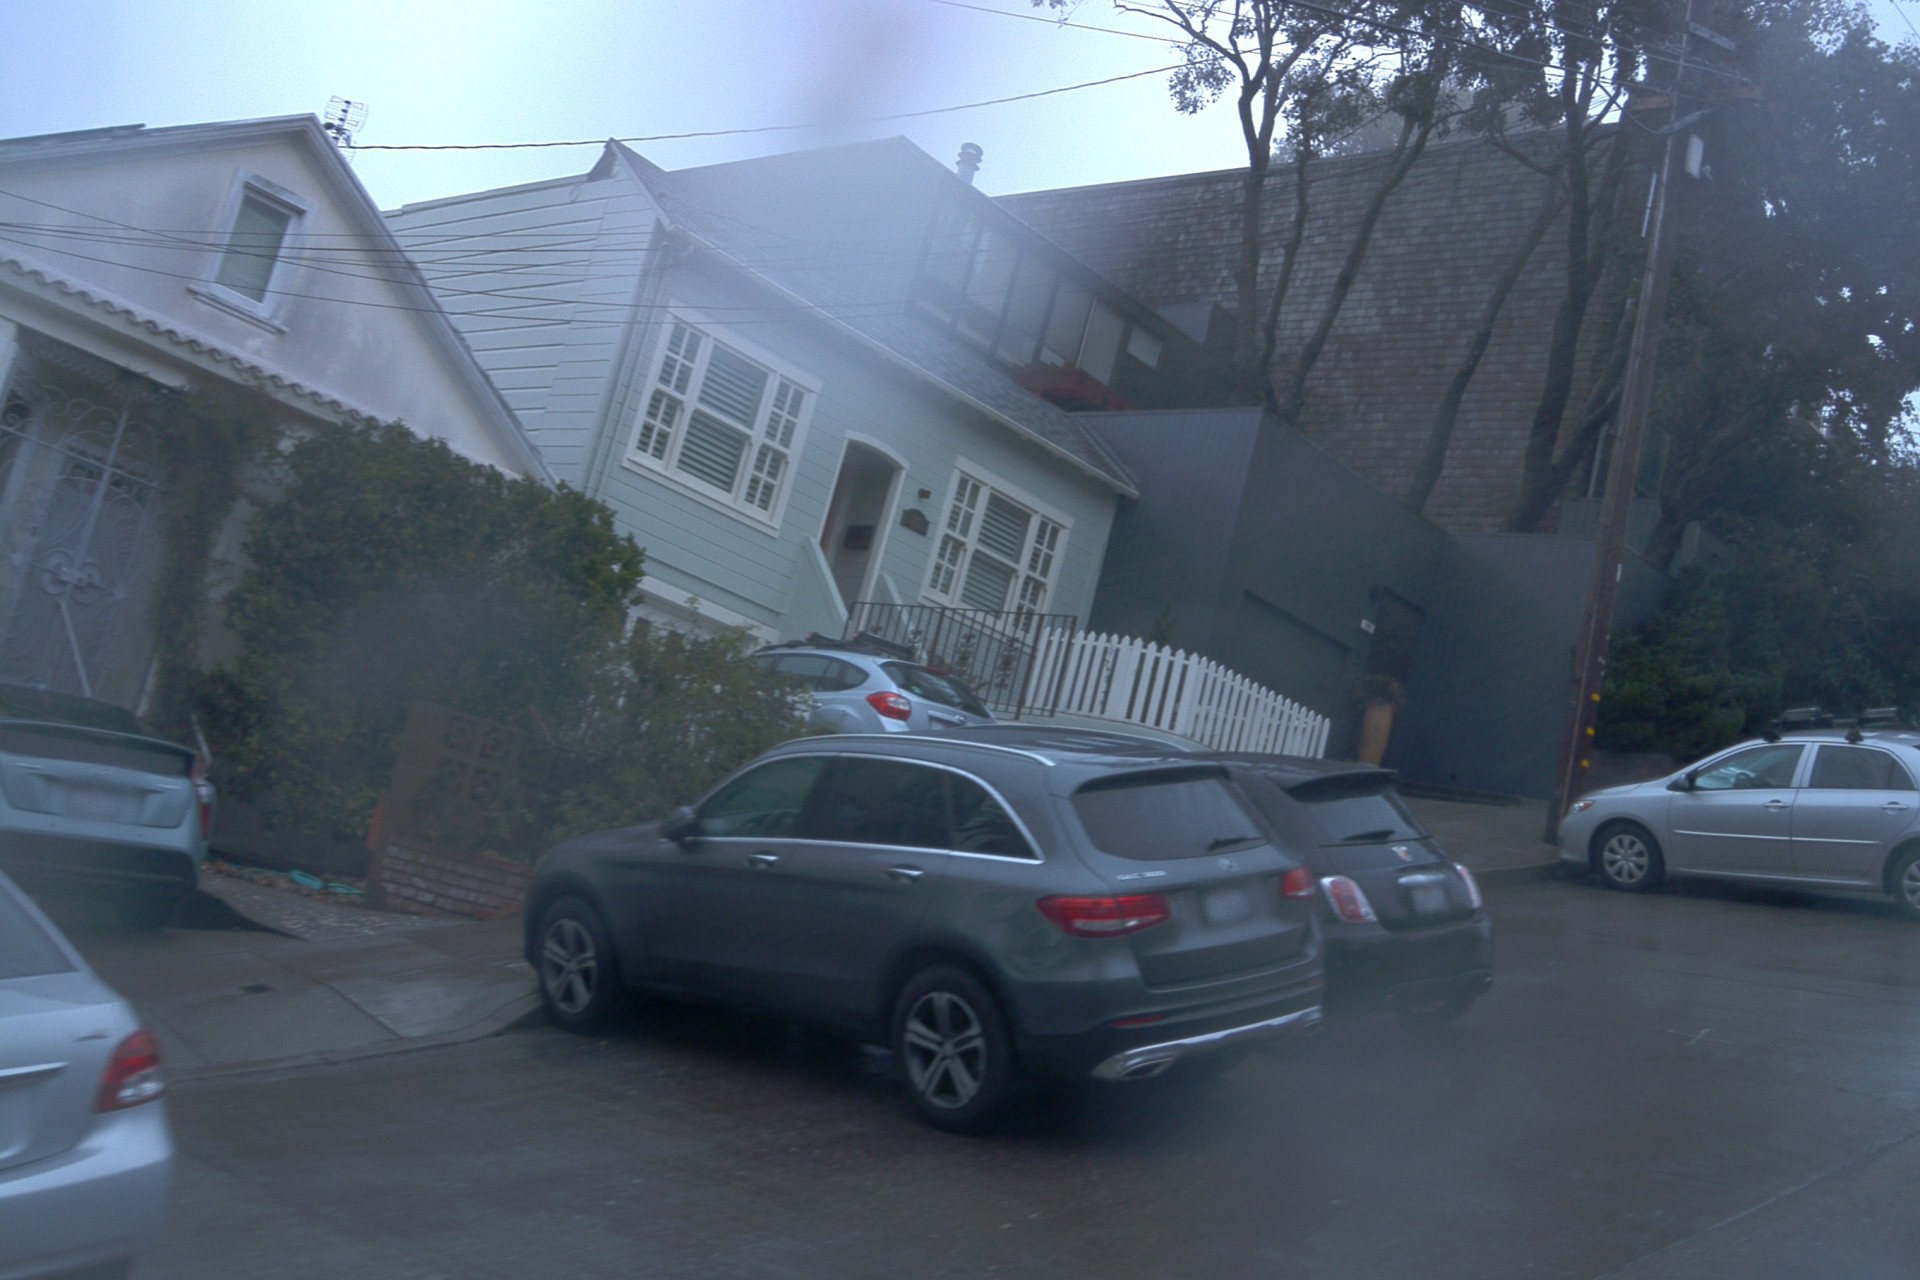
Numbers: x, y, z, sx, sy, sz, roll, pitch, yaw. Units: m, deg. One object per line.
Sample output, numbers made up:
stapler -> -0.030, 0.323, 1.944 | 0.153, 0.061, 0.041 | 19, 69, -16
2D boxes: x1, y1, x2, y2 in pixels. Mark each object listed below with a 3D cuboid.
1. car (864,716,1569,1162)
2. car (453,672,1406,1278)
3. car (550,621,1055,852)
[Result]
car -> 1.377, 1.514, 11.952 | 3.590, 2.000, 1.935 | 0, 0, 45
car -> -0.341, 1.299, 10.175 | 2.200, 2.200, 4.458 | 0, 0, -44
car -> -1.516, 0.763, 18.700 | 4.430, 1.830, 2.091 | 0, 0, 43
